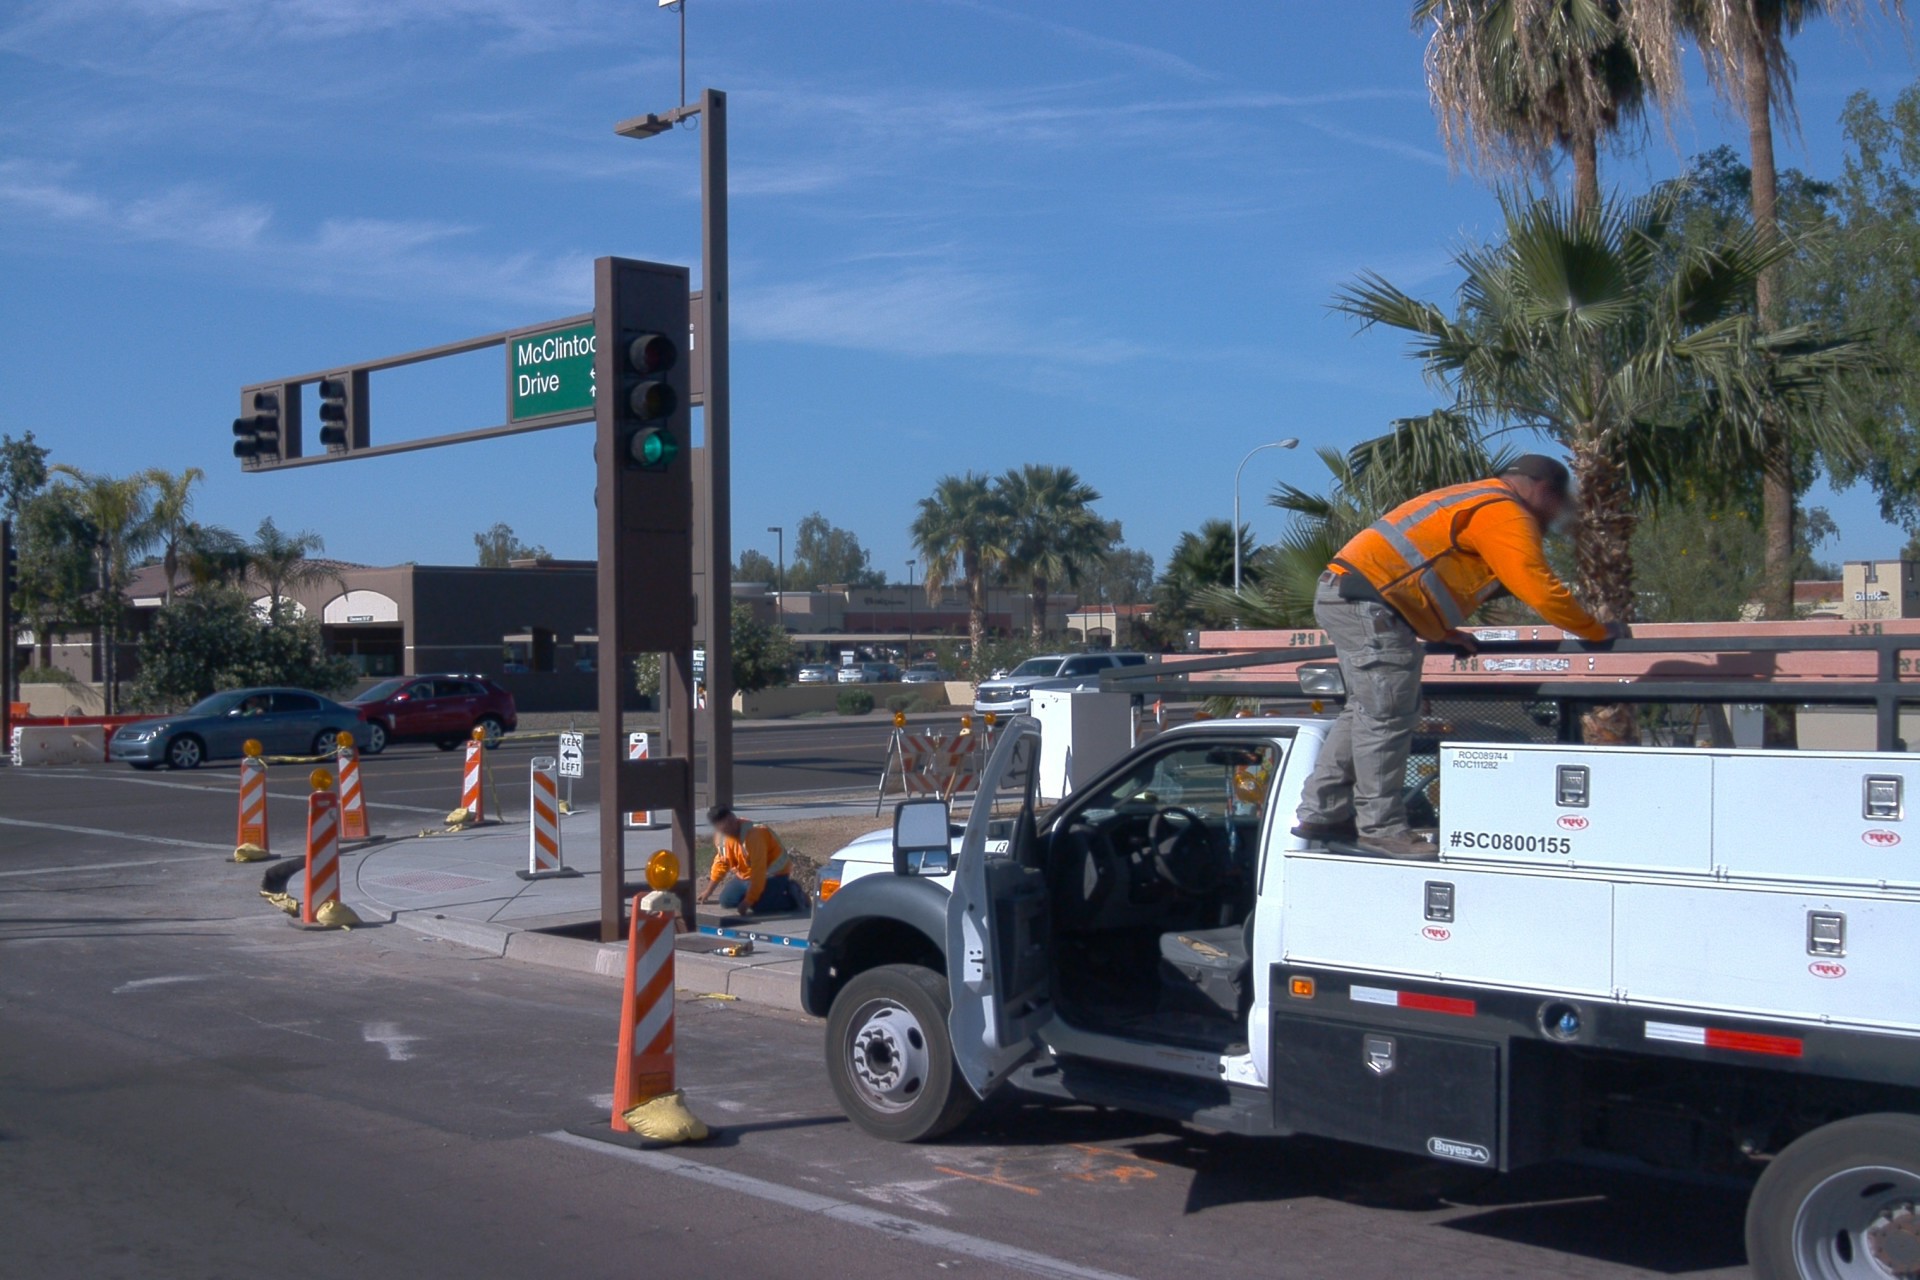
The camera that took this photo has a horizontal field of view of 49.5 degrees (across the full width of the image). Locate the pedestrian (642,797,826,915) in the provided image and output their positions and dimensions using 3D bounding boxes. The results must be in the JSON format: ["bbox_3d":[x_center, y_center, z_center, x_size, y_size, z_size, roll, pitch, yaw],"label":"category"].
[{"bbox_3d":[-1.848,1.742,17.009,1.087,0.820,1.043,0,-1,-42],"label":"pedestrian"}]

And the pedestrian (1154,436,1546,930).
[{"bbox_3d":[1.465,0.154,7.823,1.176,1.690,0.875,0,0,37],"label":"pedestrian"}]
